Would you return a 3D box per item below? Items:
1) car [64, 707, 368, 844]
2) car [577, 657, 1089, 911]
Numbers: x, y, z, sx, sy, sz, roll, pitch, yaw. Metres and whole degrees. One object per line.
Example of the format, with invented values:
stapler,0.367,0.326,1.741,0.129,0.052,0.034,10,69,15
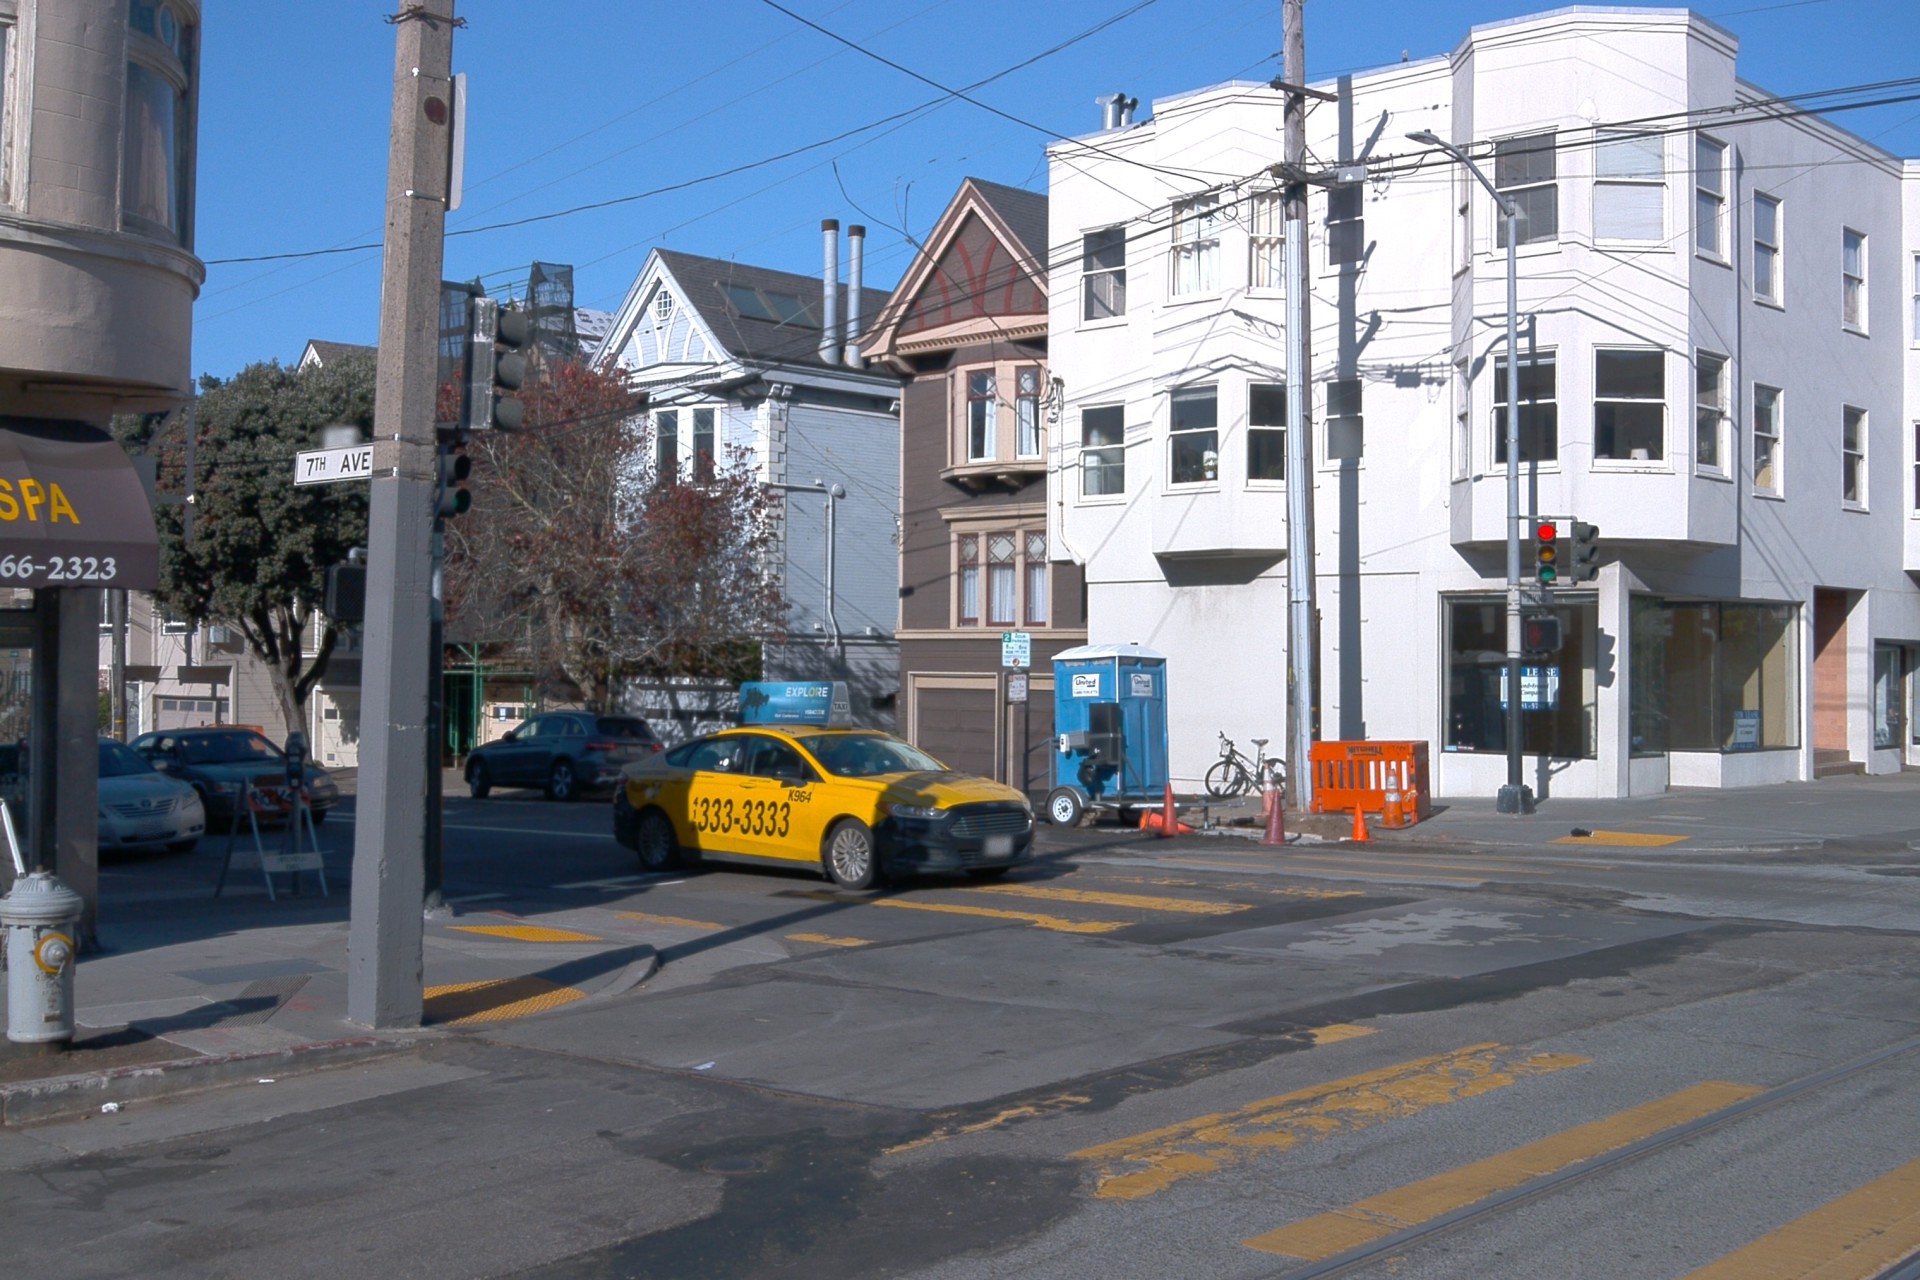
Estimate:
car,-10.468,1.809,28.963,4.897,1.590,2.080,0,0,45
car,-1.342,1.229,19.878,4.984,2.090,2.094,0,0,45
